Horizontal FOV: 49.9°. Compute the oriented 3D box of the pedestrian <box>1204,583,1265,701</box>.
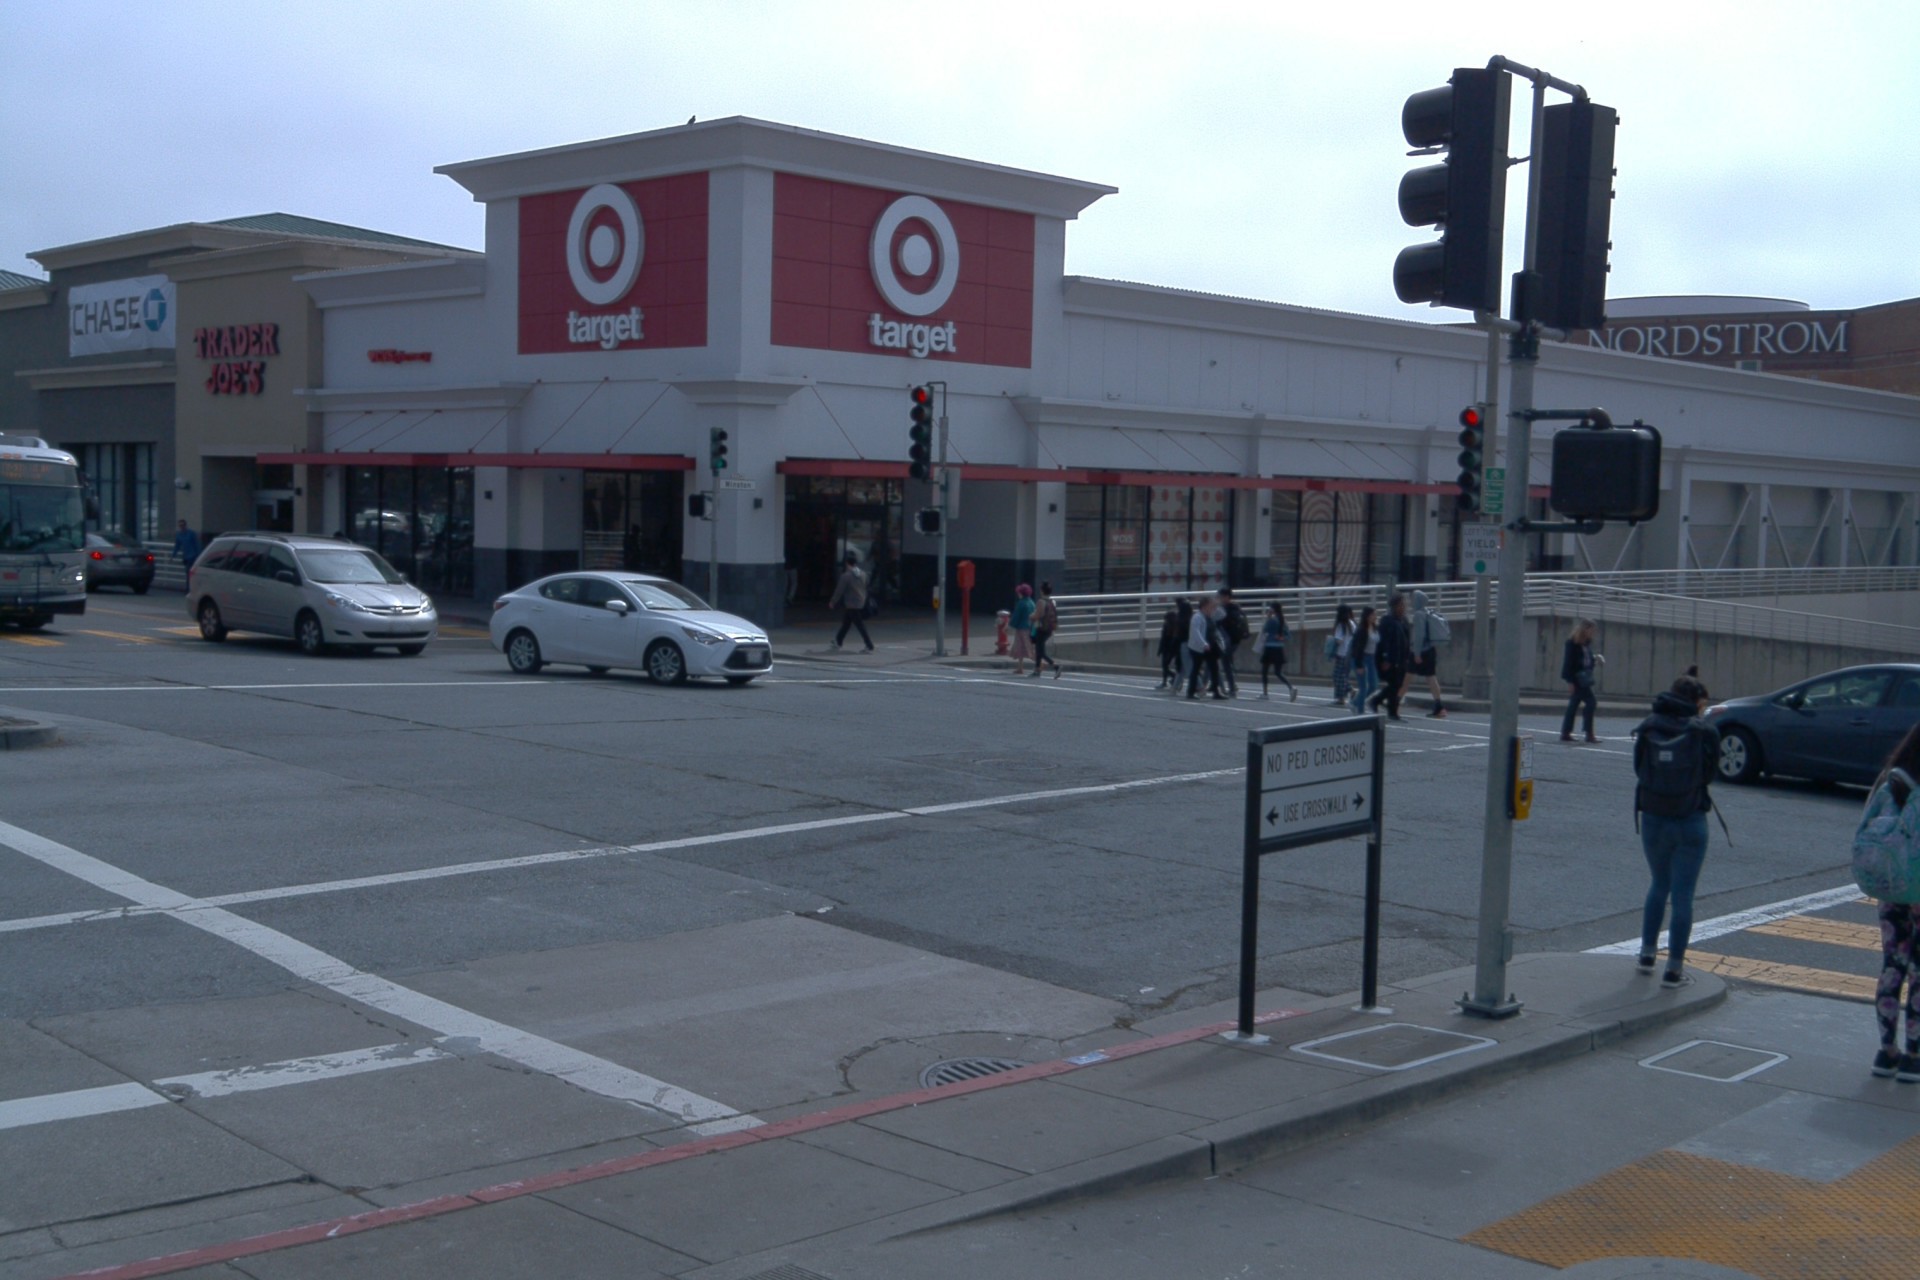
[{"bbox_3d":[4.239,0.023,31.899,0.592,1.800,0.732,-1,1,-43],"label":"pedestrian"}]

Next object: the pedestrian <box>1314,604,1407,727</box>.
[{"bbox_3d":[5.405,0.331,27.843,0.742,1.630,0.987,-1,1,-39],"label":"pedestrian"}]

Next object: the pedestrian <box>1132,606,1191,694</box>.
[{"bbox_3d":[3.189,0.150,32.661,0.769,1.360,0.521,1,1,40],"label":"pedestrian"}]

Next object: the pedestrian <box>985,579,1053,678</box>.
[{"bbox_3d":[1.014,-0.202,35.403,0.873,1.670,0.783,0,1,37],"label":"pedestrian"}]

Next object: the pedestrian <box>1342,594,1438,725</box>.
[{"bbox_3d":[5.879,0.249,28.247,0.795,1.750,1.018,-1,1,-40],"label":"pedestrian"}]

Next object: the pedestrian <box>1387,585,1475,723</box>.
[{"bbox_3d":[6.847,0.193,30.015,1.039,1.960,0.717,1,1,41],"label":"pedestrian"}]

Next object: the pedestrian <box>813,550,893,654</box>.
[{"bbox_3d":[-1.944,-0.693,37.486,1.043,1.850,1.025,0,1,37],"label":"pedestrian"}]

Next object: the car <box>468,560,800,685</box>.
[{"bbox_3d":[-4.514,-0.245,28.346,4.369,1.600,1.885,0,1,34],"label":"car"}]

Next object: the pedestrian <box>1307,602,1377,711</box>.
[{"bbox_3d":[5.829,0.241,31.499,0.890,1.630,0.611,0,1,31],"label":"pedestrian"}]

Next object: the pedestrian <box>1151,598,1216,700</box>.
[{"bbox_3d":[3.393,0.125,31.275,0.707,1.530,0.680,1,1,44],"label":"pedestrian"}]

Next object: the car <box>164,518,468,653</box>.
[{"bbox_3d":[-10.239,-0.824,32.621,5.161,1.970,2.221,1,1,41],"label":"car"}]

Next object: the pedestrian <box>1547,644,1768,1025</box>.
[{"bbox_3d":[3.475,0.912,10.255,0.843,1.760,0.940,0,1,32],"label":"pedestrian"}]

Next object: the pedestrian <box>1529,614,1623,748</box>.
[{"bbox_3d":[7.873,0.506,26.366,0.926,1.680,0.769,0,1,38],"label":"pedestrian"}]

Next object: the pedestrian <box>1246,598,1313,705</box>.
[{"bbox_3d":[4.954,0.164,32.028,0.721,1.630,0.786,1,1,40],"label":"pedestrian"}]

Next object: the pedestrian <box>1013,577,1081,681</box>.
[{"bbox_3d":[1.454,-0.187,34.424,0.895,1.700,0.689,1,1,42],"label":"pedestrian"}]

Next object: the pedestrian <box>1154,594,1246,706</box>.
[{"bbox_3d":[3.528,0.138,30.341,0.972,1.610,0.944,1,1,42],"label":"pedestrian"}]
